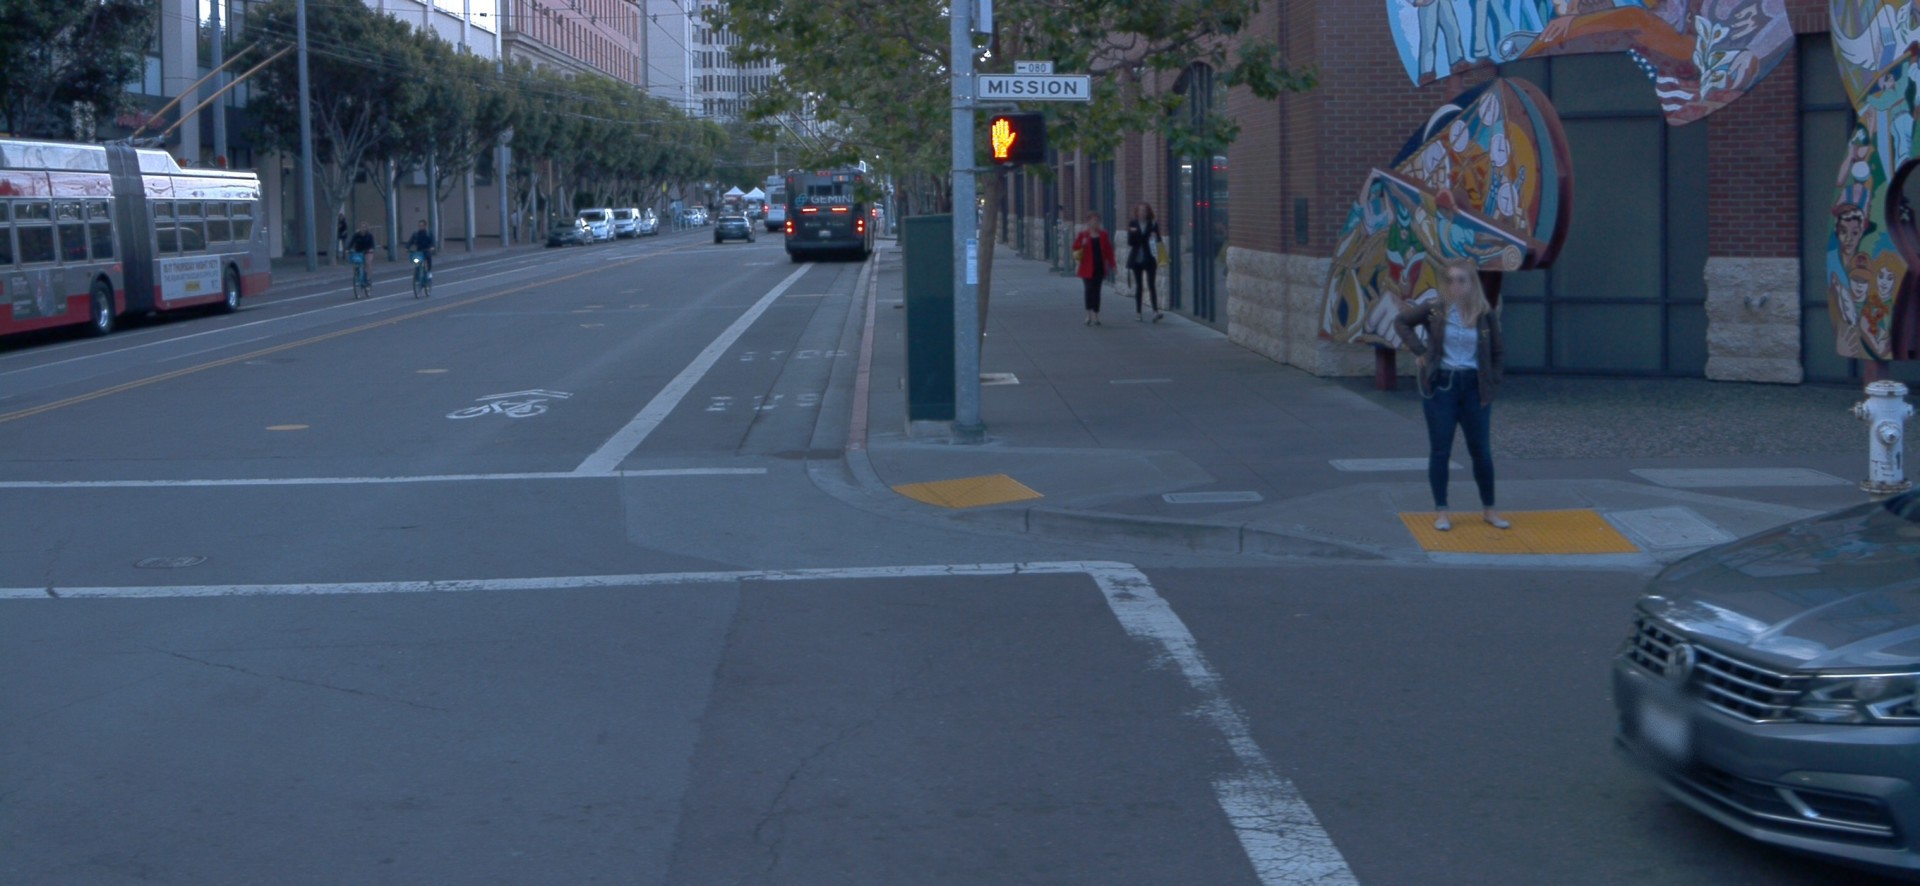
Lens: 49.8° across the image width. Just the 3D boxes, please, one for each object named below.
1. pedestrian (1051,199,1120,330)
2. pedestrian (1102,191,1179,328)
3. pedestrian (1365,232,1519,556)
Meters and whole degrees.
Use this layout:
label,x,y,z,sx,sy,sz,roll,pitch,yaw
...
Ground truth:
label,x,y,z,sx,sy,sz,roll,pitch,yaw
pedestrian,1.763,-2.534,29.147,0.818,1.796,1.047,-1,3,-5
pedestrian,2.552,-2.614,29.346,0.939,1.896,1.002,-1,2,-3
pedestrian,2.885,-0.332,12.328,0.853,1.833,0.908,0,2,15
